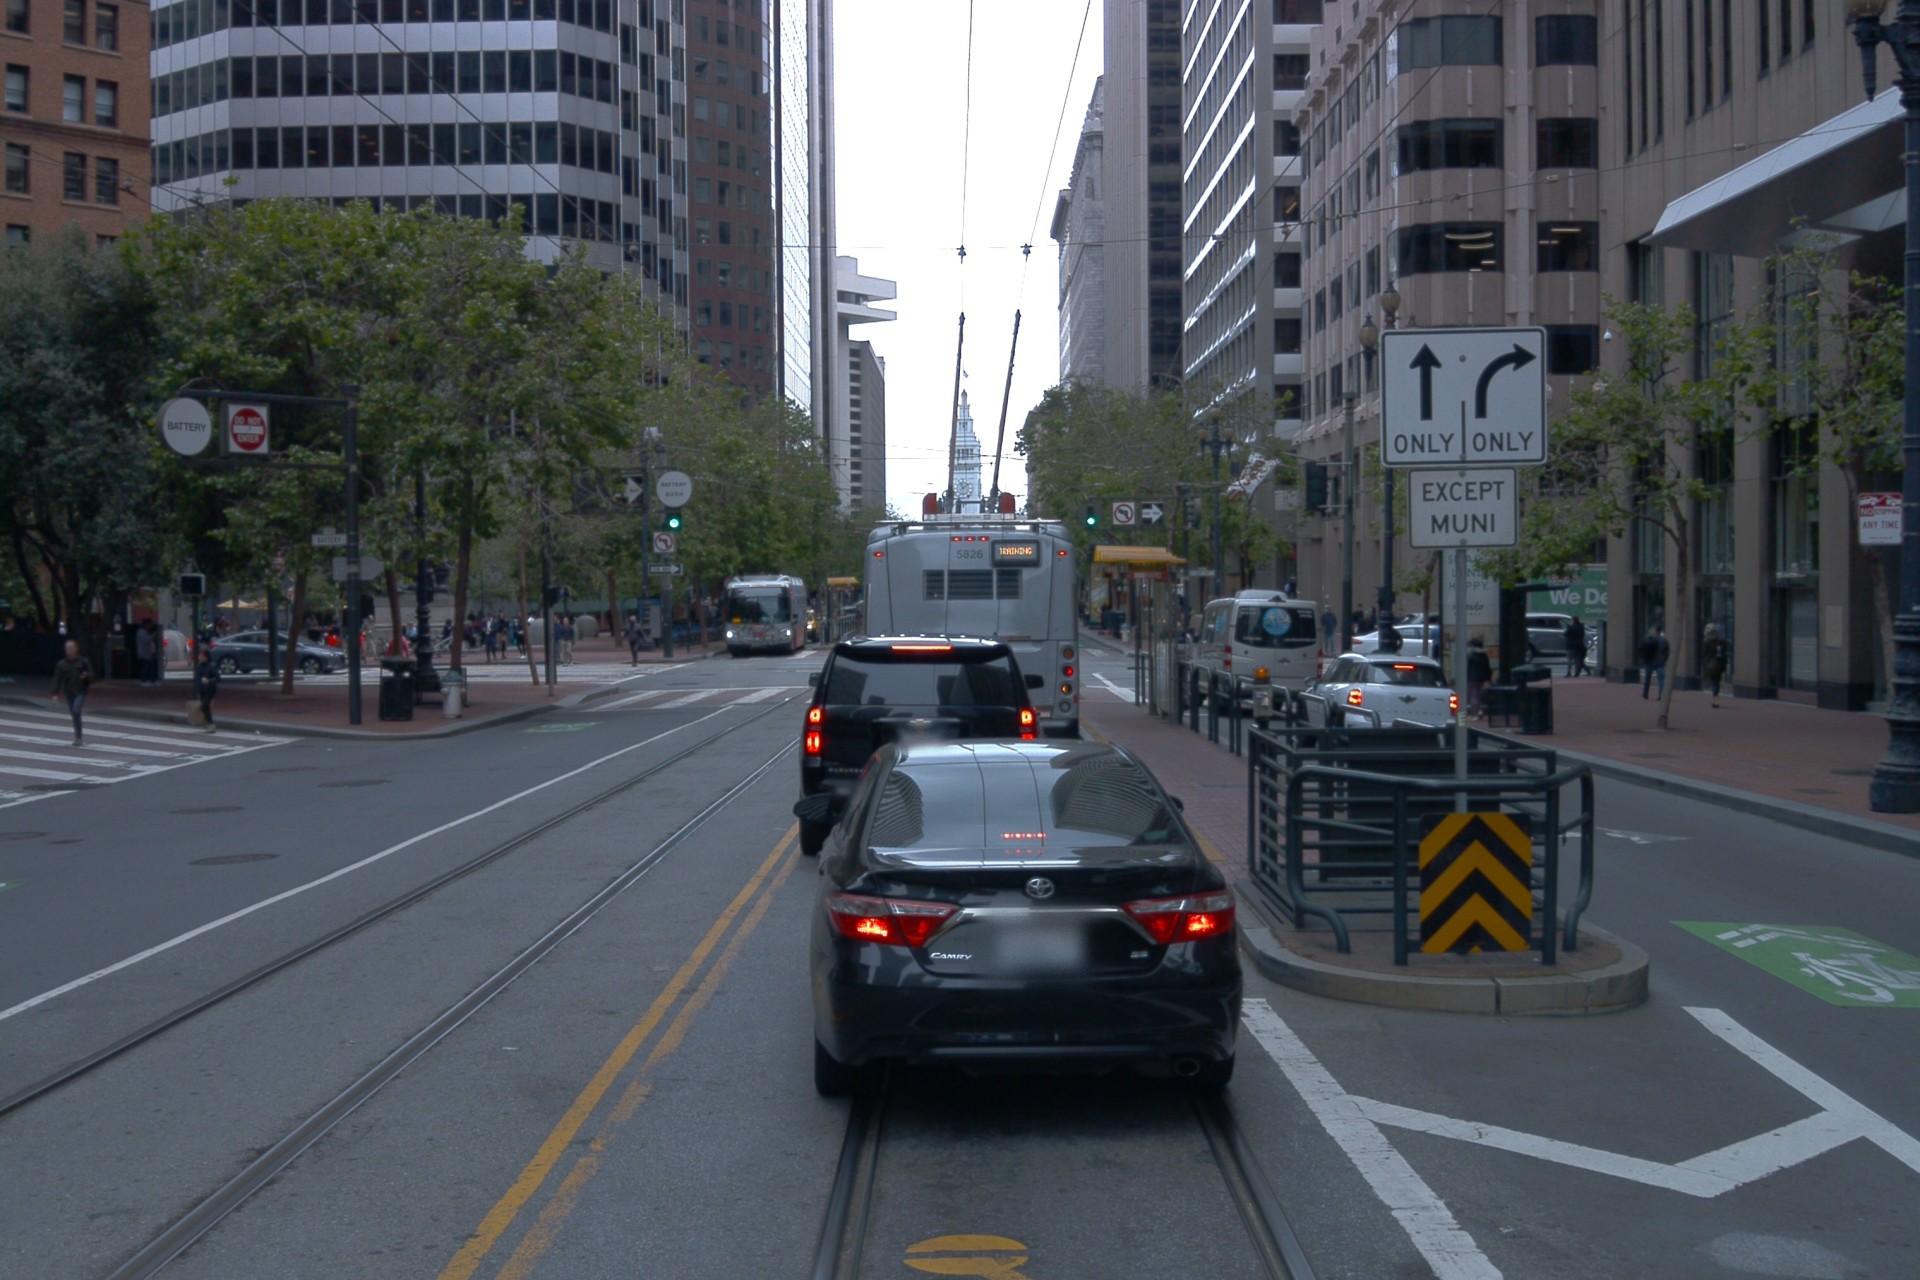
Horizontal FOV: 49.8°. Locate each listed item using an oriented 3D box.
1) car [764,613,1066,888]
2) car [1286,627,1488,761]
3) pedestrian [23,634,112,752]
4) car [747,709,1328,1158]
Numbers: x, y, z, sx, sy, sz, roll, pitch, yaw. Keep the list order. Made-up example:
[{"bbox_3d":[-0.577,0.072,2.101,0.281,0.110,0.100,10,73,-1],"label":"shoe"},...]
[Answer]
[{"bbox_3d":[-0.327,0.827,18.616,2.308,2.100,5.442,0,1,0],"label":"car"},{"bbox_3d":[6.129,0.726,30.103,2.075,1.784,3.878,0,1,-1],"label":"car"},{"bbox_3d":[-14.639,0.855,33.925,1.016,1.900,1.060,-1,1,-4],"label":"pedestrian"},{"bbox_3d":[0.180,1.180,10.130,2.188,1.460,4.687,0,1,-3],"label":"car"}]
